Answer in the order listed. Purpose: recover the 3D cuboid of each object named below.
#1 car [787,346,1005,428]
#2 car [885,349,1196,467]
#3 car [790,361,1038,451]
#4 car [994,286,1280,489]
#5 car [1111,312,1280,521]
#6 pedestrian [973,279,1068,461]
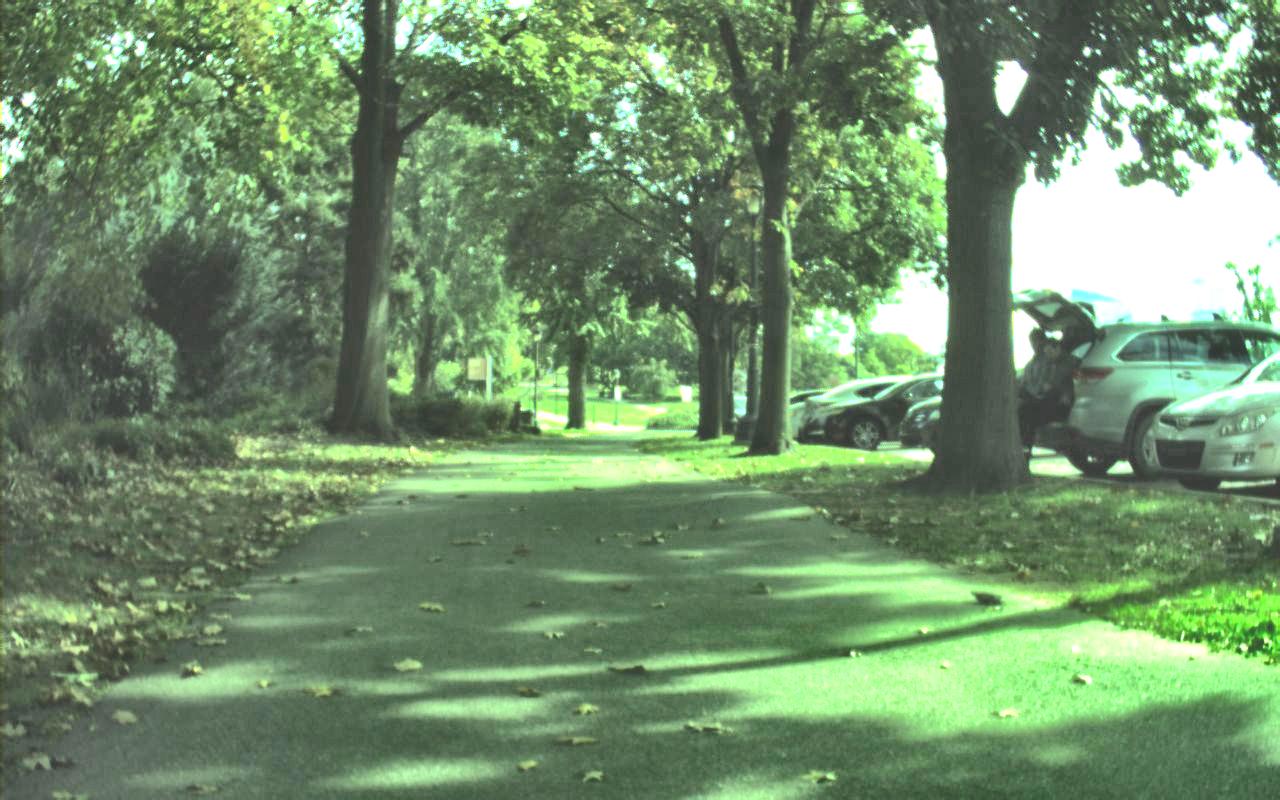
[{"bbox_3d":[5.526,-0.273,27.128,4.411,1.680,1.961,0,1,-6],"label":"car"},{"bbox_3d":[5.984,0.106,18.138,4.400,1.605,1.955,0,1,-7],"label":"car"},{"bbox_3d":[5.235,0.102,23.928,4.456,1.616,1.977,0,1,-4],"label":"car"},{"bbox_3d":[6.300,-0.118,12.919,4.554,1.985,2.042,0,1,-2],"label":"car"},{"bbox_3d":[6.556,0.133,10.122,4.451,1.590,1.964,0,1,-13],"label":"car"},{"bbox_3d":[4.051,-0.304,13.088,0.961,1.880,0.896,1,0,12],"label":"pedestrian"}]
